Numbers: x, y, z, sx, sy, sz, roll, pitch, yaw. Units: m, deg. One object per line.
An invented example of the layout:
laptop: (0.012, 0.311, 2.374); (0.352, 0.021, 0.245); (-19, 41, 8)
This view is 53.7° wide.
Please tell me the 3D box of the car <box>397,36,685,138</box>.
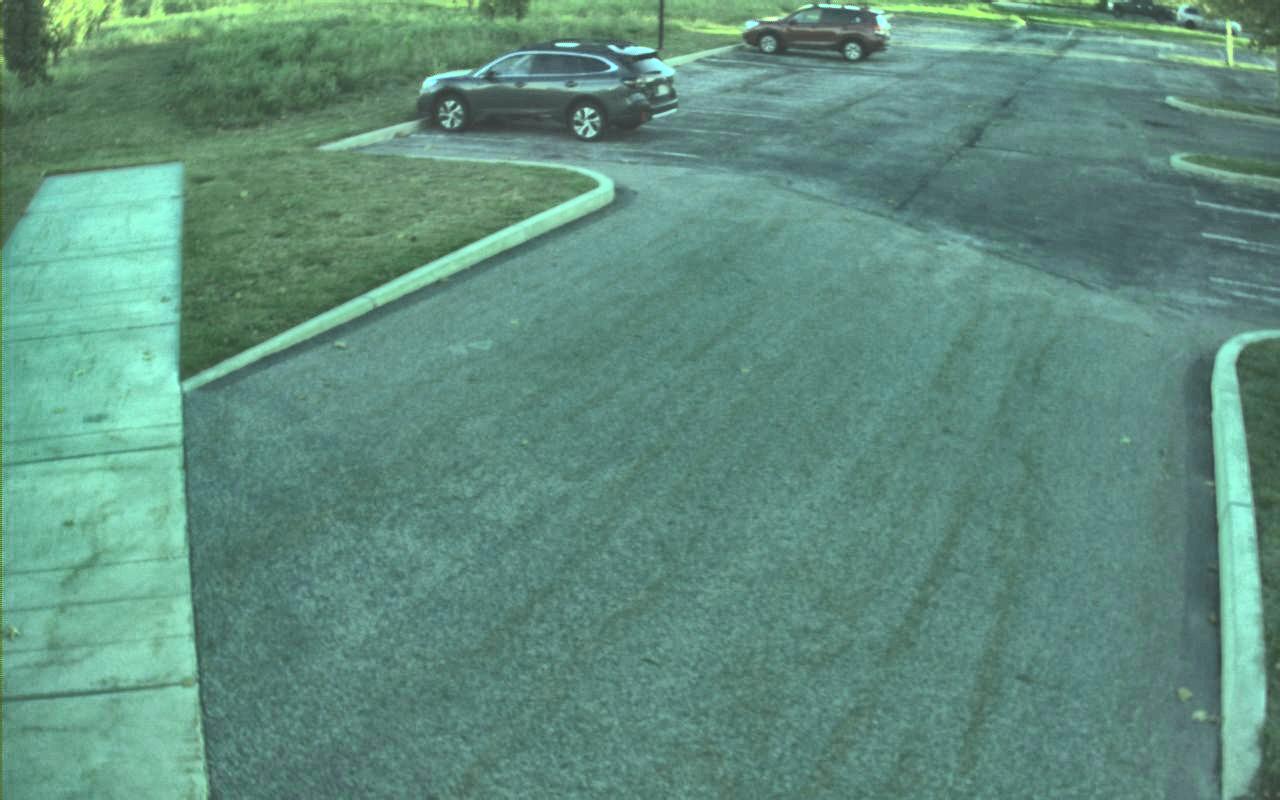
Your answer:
car: (-1.796, -5.564, 21.919); (4.731, 1.660, 2.020); (6, 17, 23)

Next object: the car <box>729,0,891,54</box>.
car: (5.305, -11.547, 37.686); (4.715, 1.673, 2.024); (5, 17, 19)
